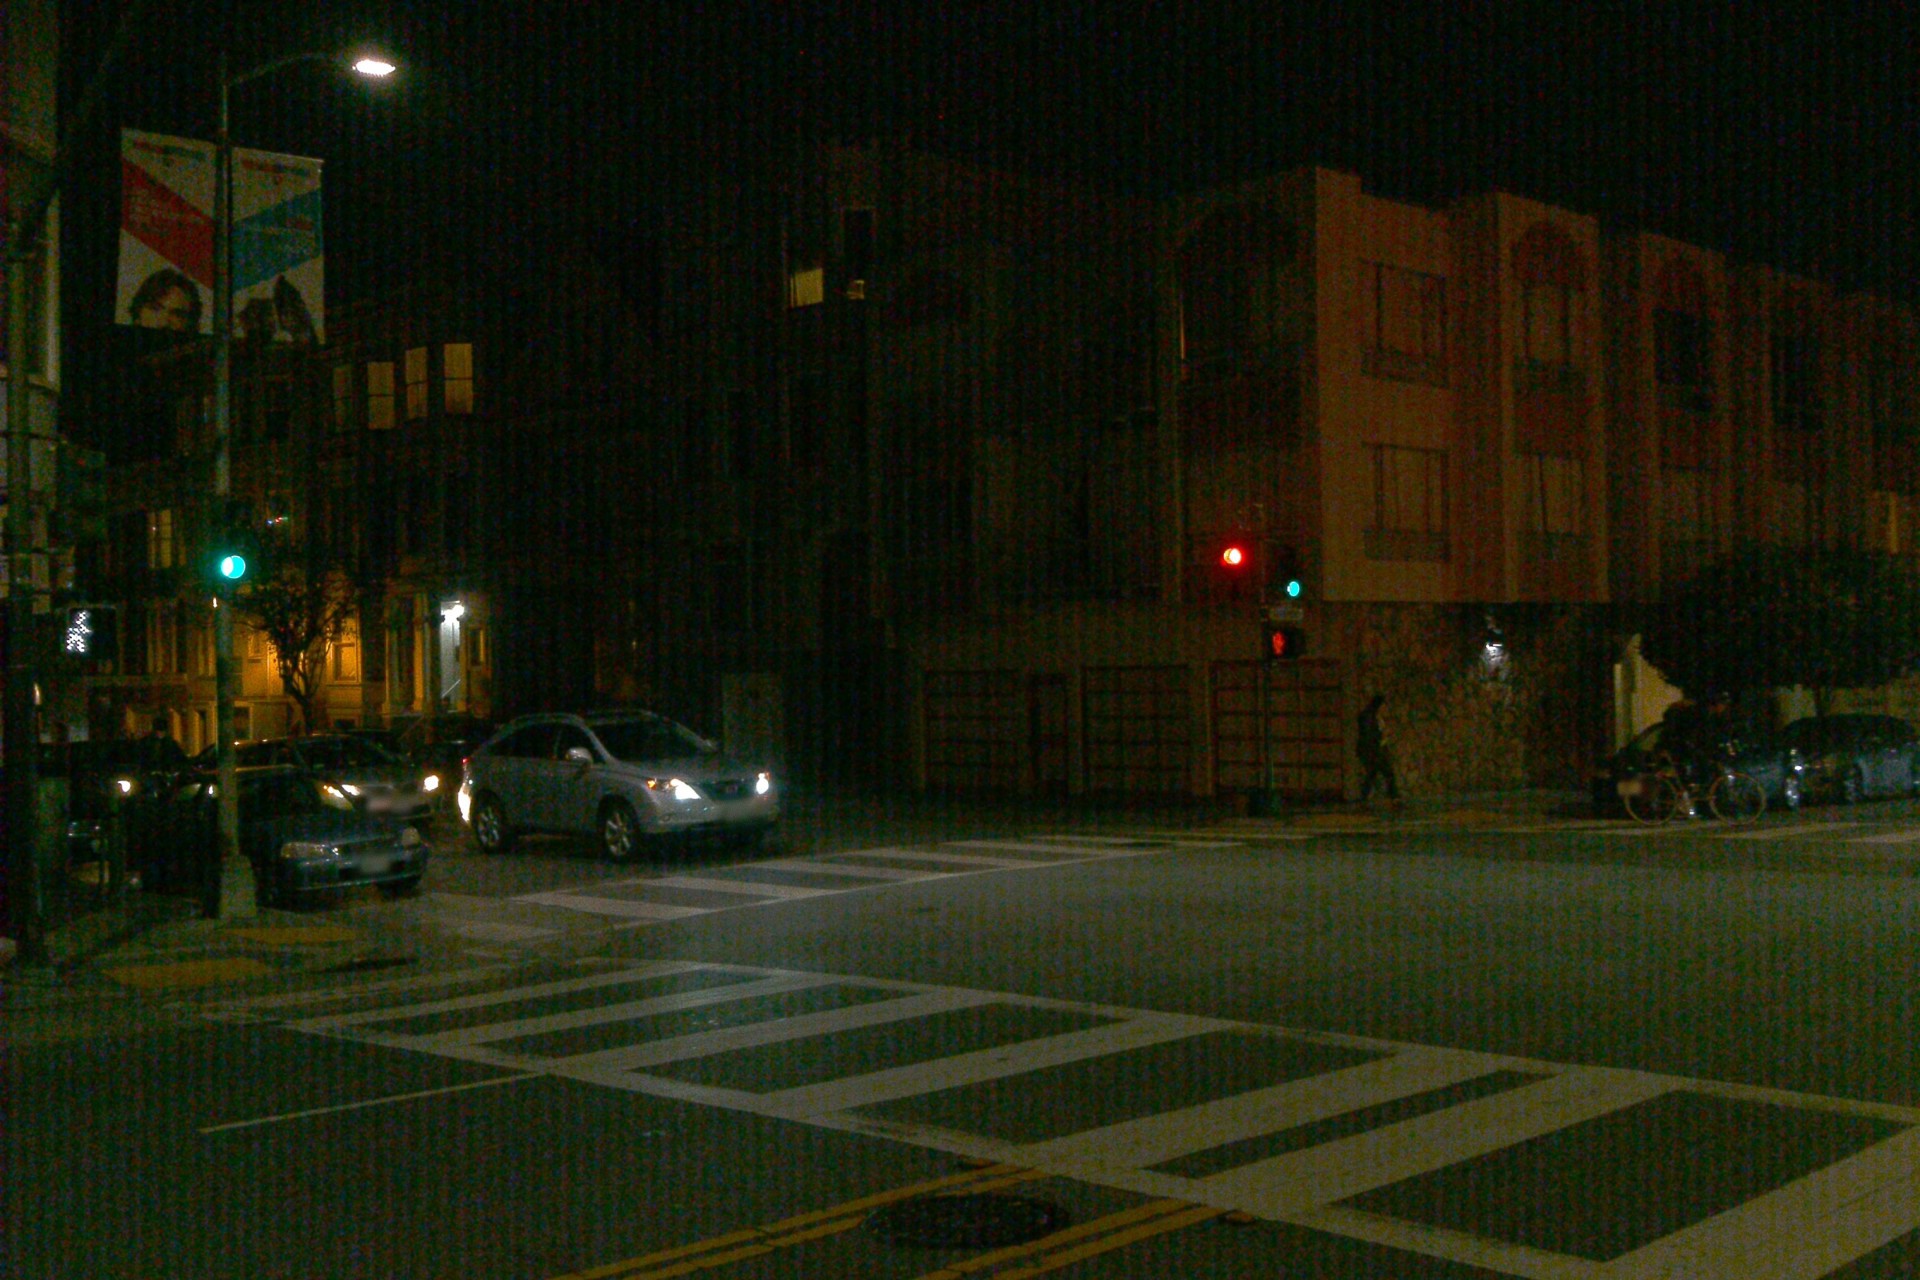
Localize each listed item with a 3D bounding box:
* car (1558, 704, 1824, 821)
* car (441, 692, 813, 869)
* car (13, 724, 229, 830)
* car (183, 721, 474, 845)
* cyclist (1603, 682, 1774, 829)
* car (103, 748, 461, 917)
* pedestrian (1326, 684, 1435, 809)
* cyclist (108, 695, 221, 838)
[{"bbox_3d":[10.705,1.711,30.062,1.967,1.430,4.633,1,0,42],"label":"car"},{"bbox_3d":[-4.108,1.595,24.959,2.139,1.760,4.613,1,0,-44],"label":"car"},{"bbox_3d":[-14.643,2.328,35.911,2.021,1.480,4.494,1,0,-42],"label":"car"},{"bbox_3d":[-9.277,2.019,30.170,4.459,1.450,2.125,1,0,44],"label":"car"},{"bbox_3d":[9.309,1.446,26.420,1.895,1.760,0.832,1,0,31],"label":"cyclist"},{"bbox_3d":[-7.380,1.985,22.257,1.946,1.350,4.278,1,0,-44],"label":"car"},{"bbox_3d":[5.964,1.492,29.314,1.175,1.690,0.935,1,0,45],"label":"pedestrian"},{"bbox_3d":[-11.208,1.751,29.070,0.832,1.870,1.925,1,0,-42],"label":"cyclist"}]
